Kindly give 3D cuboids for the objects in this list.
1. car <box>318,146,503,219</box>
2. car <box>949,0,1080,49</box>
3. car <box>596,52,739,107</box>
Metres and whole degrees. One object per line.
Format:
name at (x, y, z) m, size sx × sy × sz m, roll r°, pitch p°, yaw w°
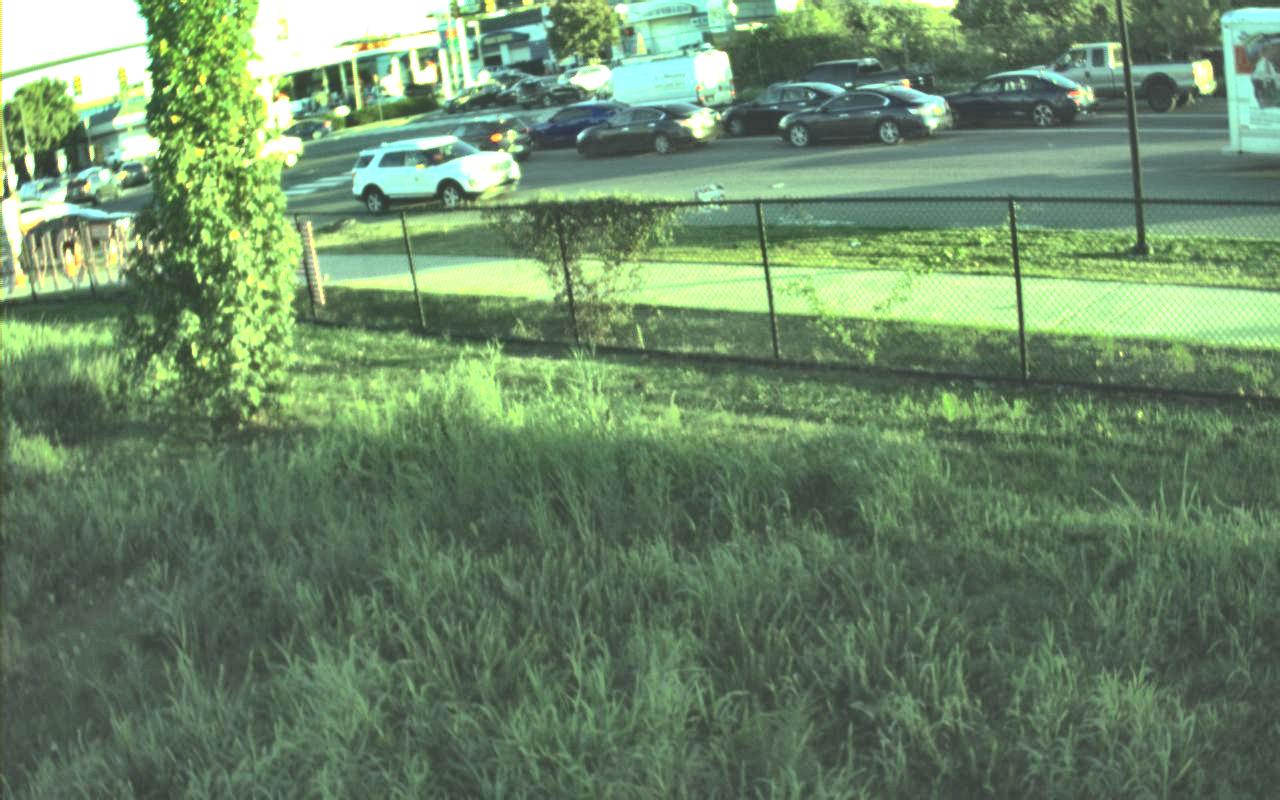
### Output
car at (-6.053, -5.726, 32.269) m, size 4.653 × 1.610 × 1.982 m, roll 8°, pitch 18°, yaw 28°
car at (14.742, -14.758, 46.430) m, size 4.916 × 1.793 × 2.100 m, roll 12°, pitch 20°, yaw 37°
car at (0.945, -11.531, 44.427) m, size 4.846 × 1.863 × 2.087 m, roll 12°, pitch 20°, yaw 38°
